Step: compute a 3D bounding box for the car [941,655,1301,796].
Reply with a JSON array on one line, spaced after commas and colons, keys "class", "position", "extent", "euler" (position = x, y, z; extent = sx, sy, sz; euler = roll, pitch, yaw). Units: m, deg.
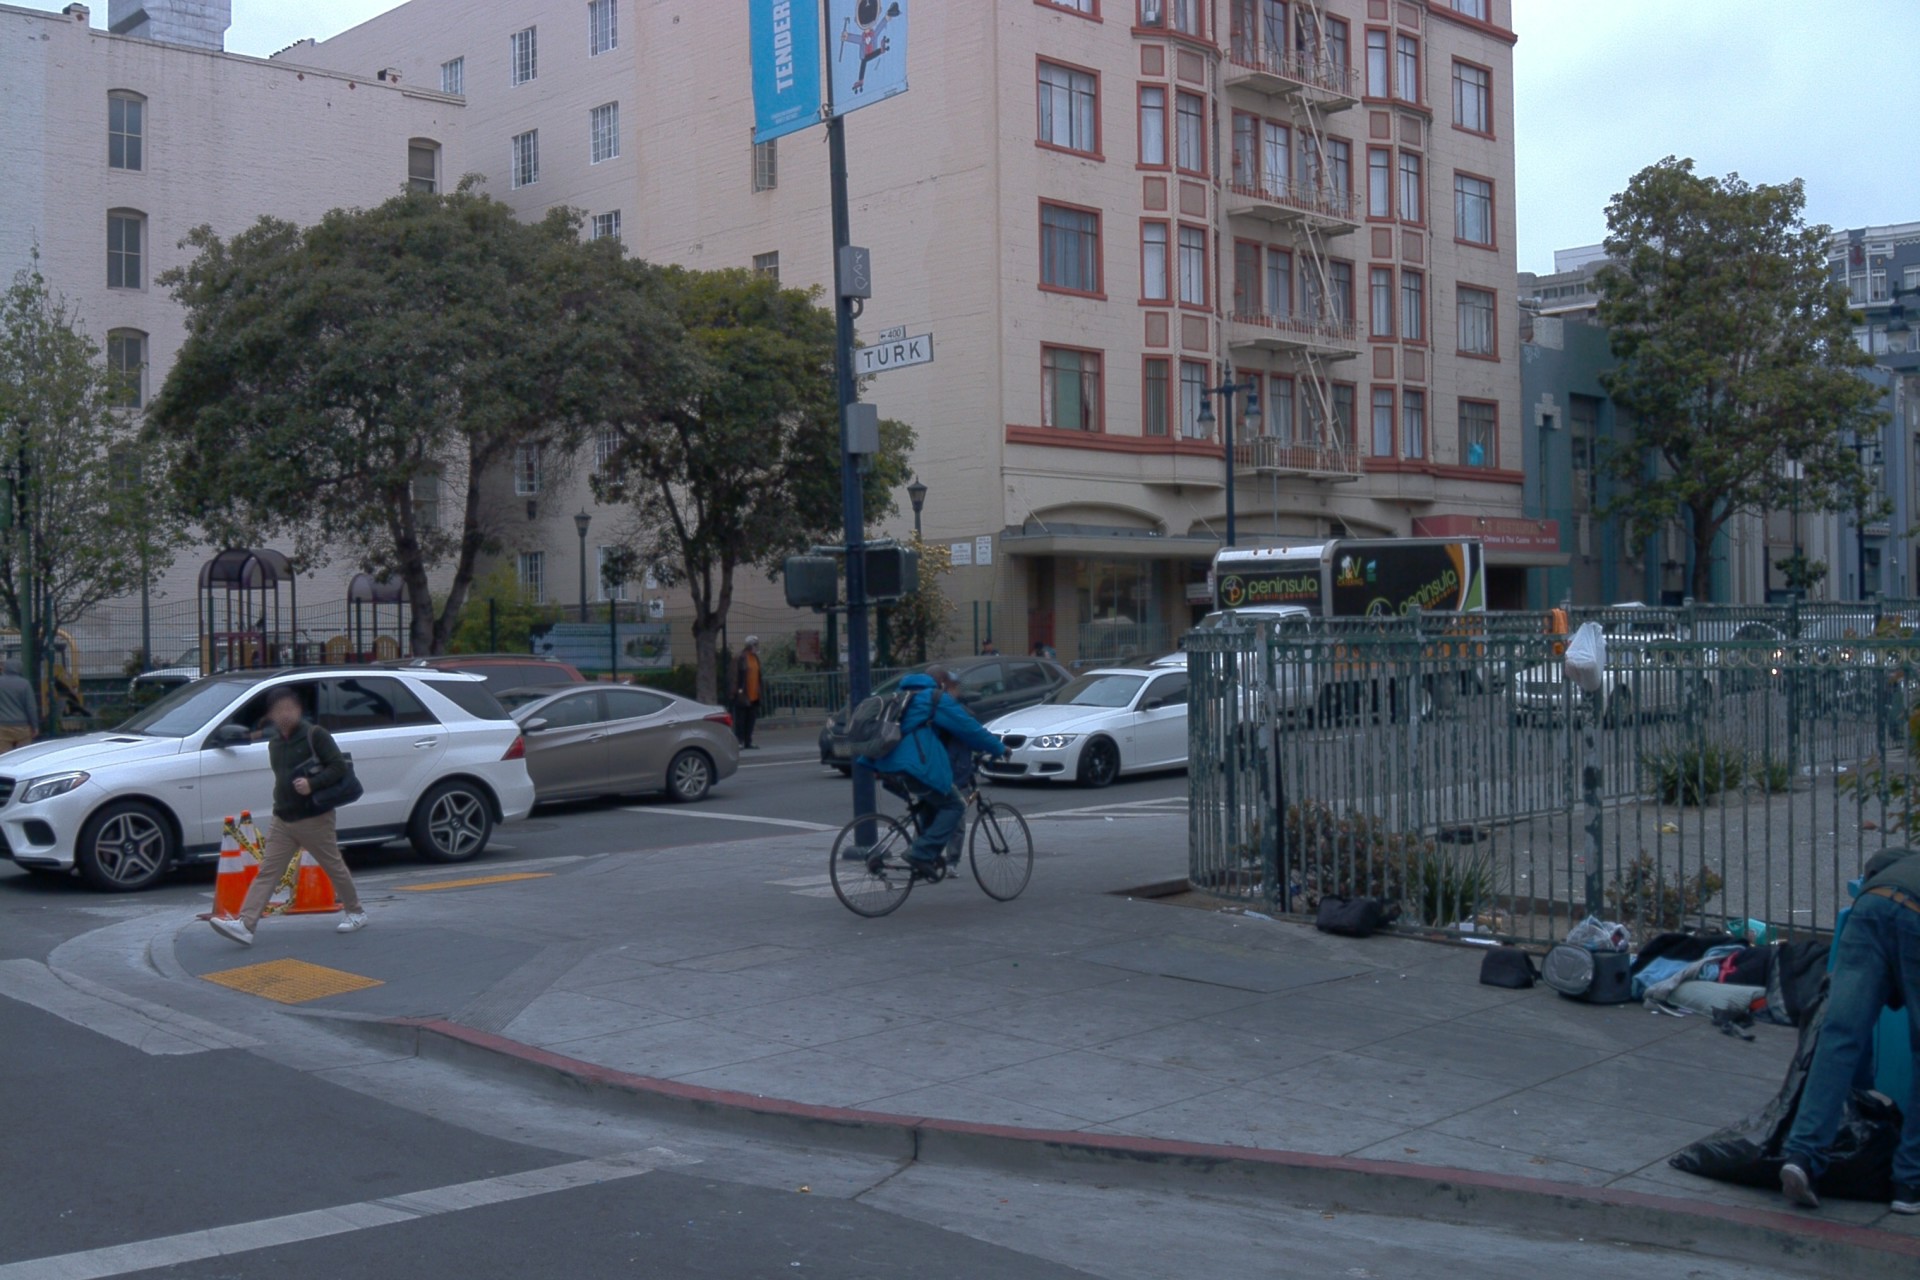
[{"class": "car", "position": [2.081, 0.991, 25.747], "extent": [4.584, 1.520, 1.930], "euler": [-1, 1, -44]}]

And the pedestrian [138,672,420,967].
[{"class": "pedestrian", "position": [-4.345, 1.089, 13.227], "extent": [1.114, 1.720, 1.310], "euler": [0, 1, 35]}]

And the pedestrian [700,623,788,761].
[{"class": "pedestrian", "position": [-3.505, 0.817, 33.552], "extent": [1.047, 2.200, 1.032], "euler": [-1, 1, -35]}]

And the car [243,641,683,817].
[{"class": "car", "position": [-6.215, 1.028, 26.257], "extent": [5.045, 1.980, 2.095], "euler": [-1, 1, -43]}]

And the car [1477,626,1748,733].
[{"class": "car", "position": [10.892, 0.585, 34.251], "extent": [2.224, 1.630, 5.013], "euler": [1, 1, 45]}]

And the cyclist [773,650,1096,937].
[{"class": "cyclist", "position": [-0.151, 0.955, 13.789], "extent": [1.949, 1.750, 1.014], "euler": [-1, 1, -39]}]

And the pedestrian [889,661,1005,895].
[{"class": "pedestrian", "position": [-0.085, 0.998, 15.335], "extent": [0.777, 1.670, 0.797], "euler": [0, 1, 6]}]

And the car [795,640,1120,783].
[{"class": "car", "position": [0.036, 0.891, 27.764], "extent": [4.317, 1.730, 1.853], "euler": [-1, 1, -45]}]

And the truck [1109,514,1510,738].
[{"class": "truck", "position": [6.049, -0.243, 35.013], "extent": [7.101, 3.420, 2.936], "euler": [-1, 1, -42]}]

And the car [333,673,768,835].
[{"class": "car", "position": [-4.519, 1.195, 23.268], "extent": [4.454, 1.540, 1.957], "euler": [-1, 1, -44]}]
